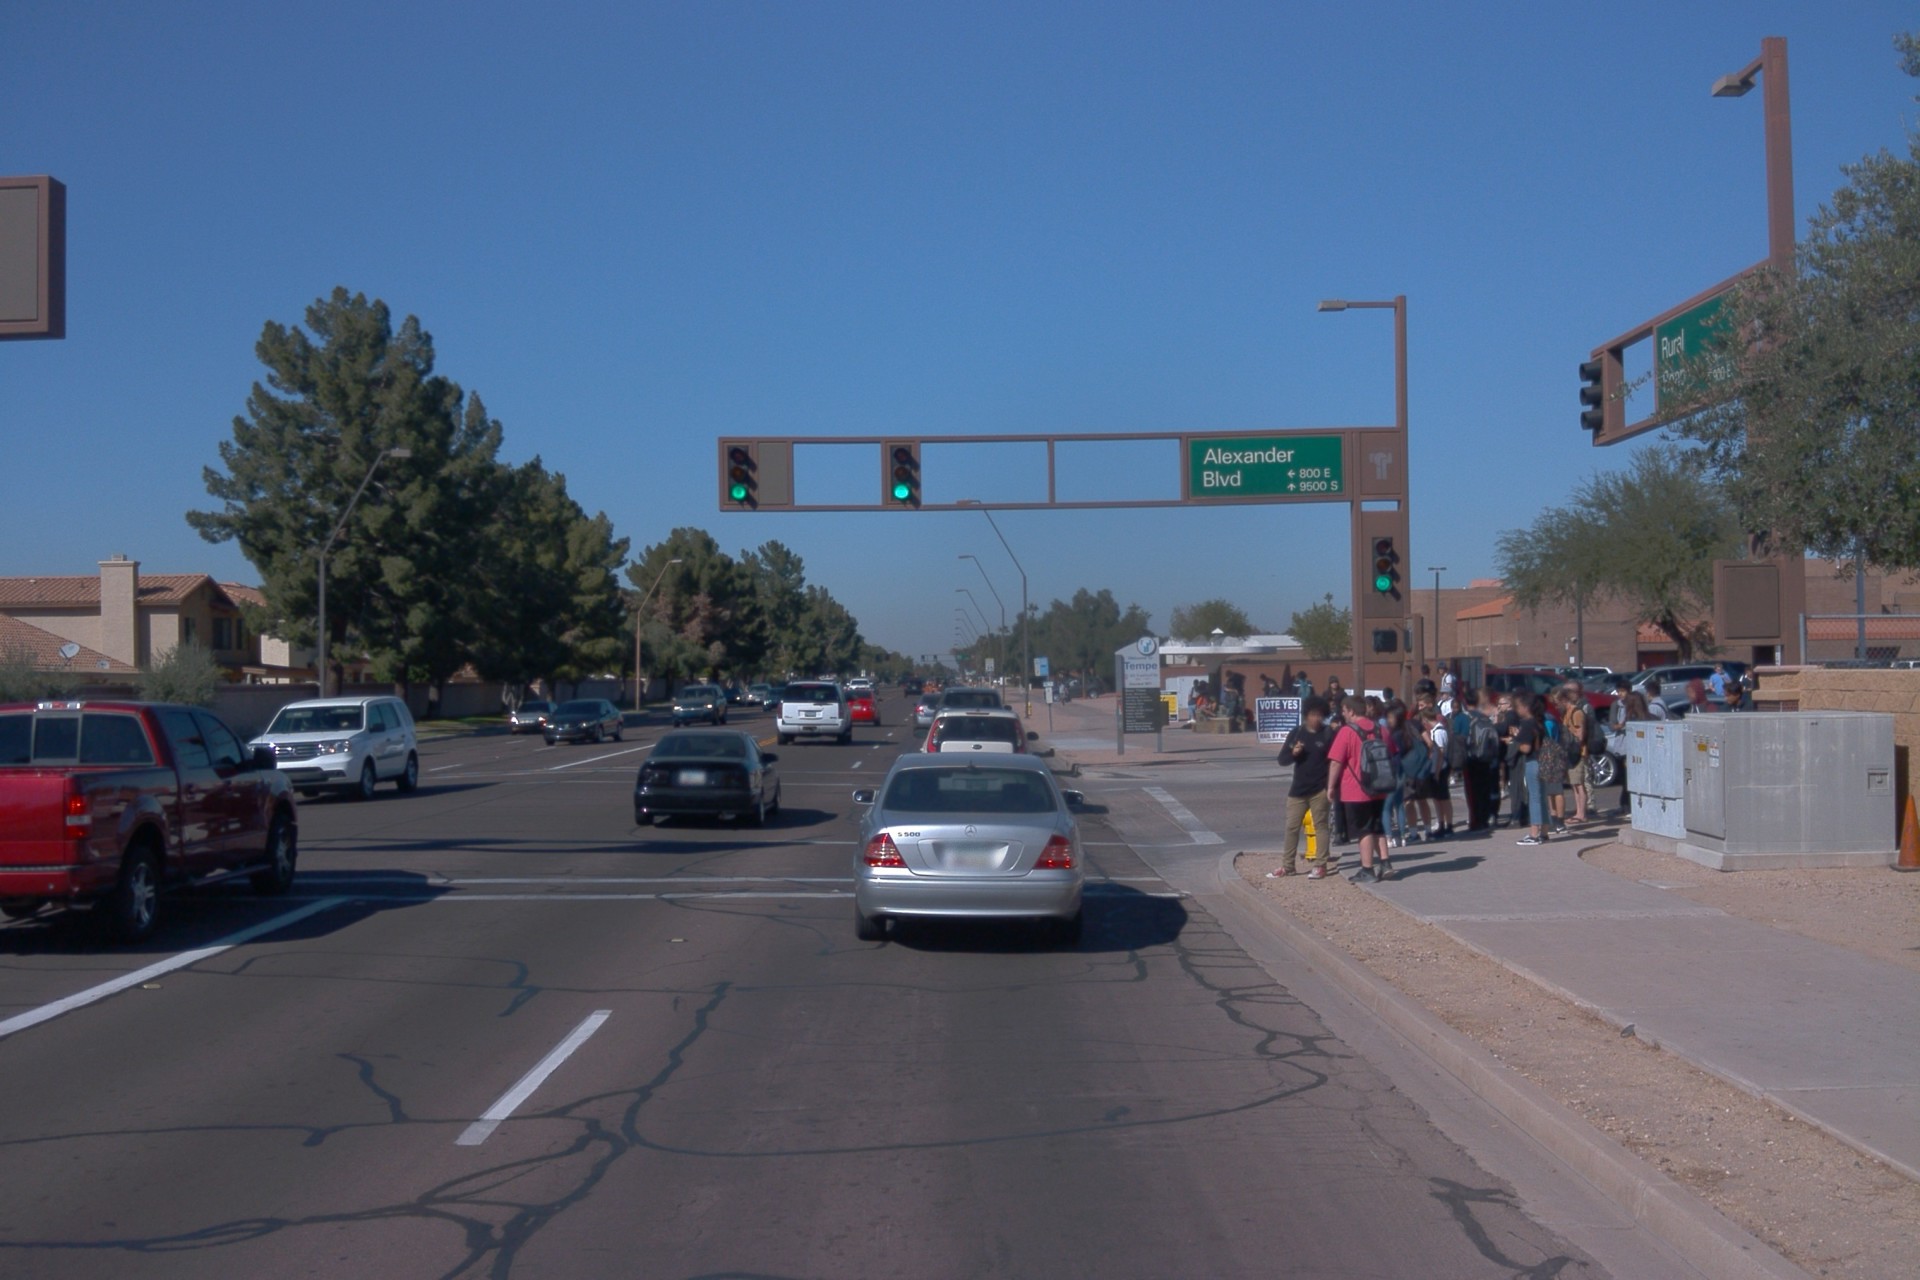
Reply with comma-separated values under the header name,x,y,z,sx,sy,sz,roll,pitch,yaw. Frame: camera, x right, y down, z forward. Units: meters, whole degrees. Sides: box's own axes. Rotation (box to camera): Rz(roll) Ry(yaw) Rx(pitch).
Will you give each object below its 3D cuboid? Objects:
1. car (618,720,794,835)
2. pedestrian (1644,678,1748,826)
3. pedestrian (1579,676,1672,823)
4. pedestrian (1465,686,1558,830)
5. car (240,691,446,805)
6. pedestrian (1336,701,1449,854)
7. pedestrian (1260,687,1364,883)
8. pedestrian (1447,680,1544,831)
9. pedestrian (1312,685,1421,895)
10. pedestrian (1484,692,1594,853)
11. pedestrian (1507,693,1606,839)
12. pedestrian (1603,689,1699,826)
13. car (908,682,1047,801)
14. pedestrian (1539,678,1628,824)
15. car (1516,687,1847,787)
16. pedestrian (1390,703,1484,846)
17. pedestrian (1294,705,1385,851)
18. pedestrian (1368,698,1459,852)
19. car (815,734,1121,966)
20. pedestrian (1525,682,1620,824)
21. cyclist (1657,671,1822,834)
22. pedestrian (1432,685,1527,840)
name,x,y,z,sx,sy,sz,roll,pitch,yaw
car,-3.499,1.885,29.409,1.915,1.410,4.397,0,-1,1
pedestrian,9.035,1.355,25.519,0.973,1.770,0.862,1,-1,-45
pedestrian,8.408,1.368,26.301,0.812,1.830,0.806,0,-1,-16
pedestrian,6.744,1.435,25.465,0.887,1.730,0.860,0,-1,-3
car,-10.770,1.843,36.688,2.223,1.850,4.738,0,-1,0
pedestrian,4.871,1.524,23.405,1.032,1.670,0.874,0,-1,30
pedestrian,3.471,1.409,20.549,0.821,1.890,0.888,0,-1,-4
pedestrian,6.681,1.423,25.987,0.887,1.850,0.860,0,-1,-11
pedestrian,3.821,1.377,19.522,0.878,1.910,0.878,0,-1,20
pedestrian,6.357,1.429,22.841,0.844,1.710,0.856,1,-1,-44
pedestrian,7.006,1.469,24.446,0.887,1.680,0.860,0,-1,-3
pedestrian,8.523,1.431,25.670,0.812,1.660,0.806,0,-1,-16
car,0.277,1.560,33.138,2.056,1.760,4.487,0,-1,0
pedestrian,7.984,1.407,26.649,0.817,1.830,0.731,0,-1,-16
car,11.575,1.546,33.605,4.643,1.540,2.071,0,-1,2
pedestrian,5.628,1.577,24.580,0.887,1.650,0.860,0,-1,-3
pedestrian,4.517,1.628,24.782,0.887,1.700,0.860,0,-1,-3
pedestrian,5.248,1.548,24.092,0.860,1.750,0.887,0,-1,0
car,0.074,1.657,17.691,2.265,1.600,4.514,0,-1,0
pedestrian,7.580,1.384,25.764,0.887,1.730,0.860,0,-1,-3
cyclist,9.290,1.330,24.830,1.718,1.910,0.665,0,-1,1
pedestrian,6.217,1.453,24.931,0.887,1.820,0.860,0,-1,-3
